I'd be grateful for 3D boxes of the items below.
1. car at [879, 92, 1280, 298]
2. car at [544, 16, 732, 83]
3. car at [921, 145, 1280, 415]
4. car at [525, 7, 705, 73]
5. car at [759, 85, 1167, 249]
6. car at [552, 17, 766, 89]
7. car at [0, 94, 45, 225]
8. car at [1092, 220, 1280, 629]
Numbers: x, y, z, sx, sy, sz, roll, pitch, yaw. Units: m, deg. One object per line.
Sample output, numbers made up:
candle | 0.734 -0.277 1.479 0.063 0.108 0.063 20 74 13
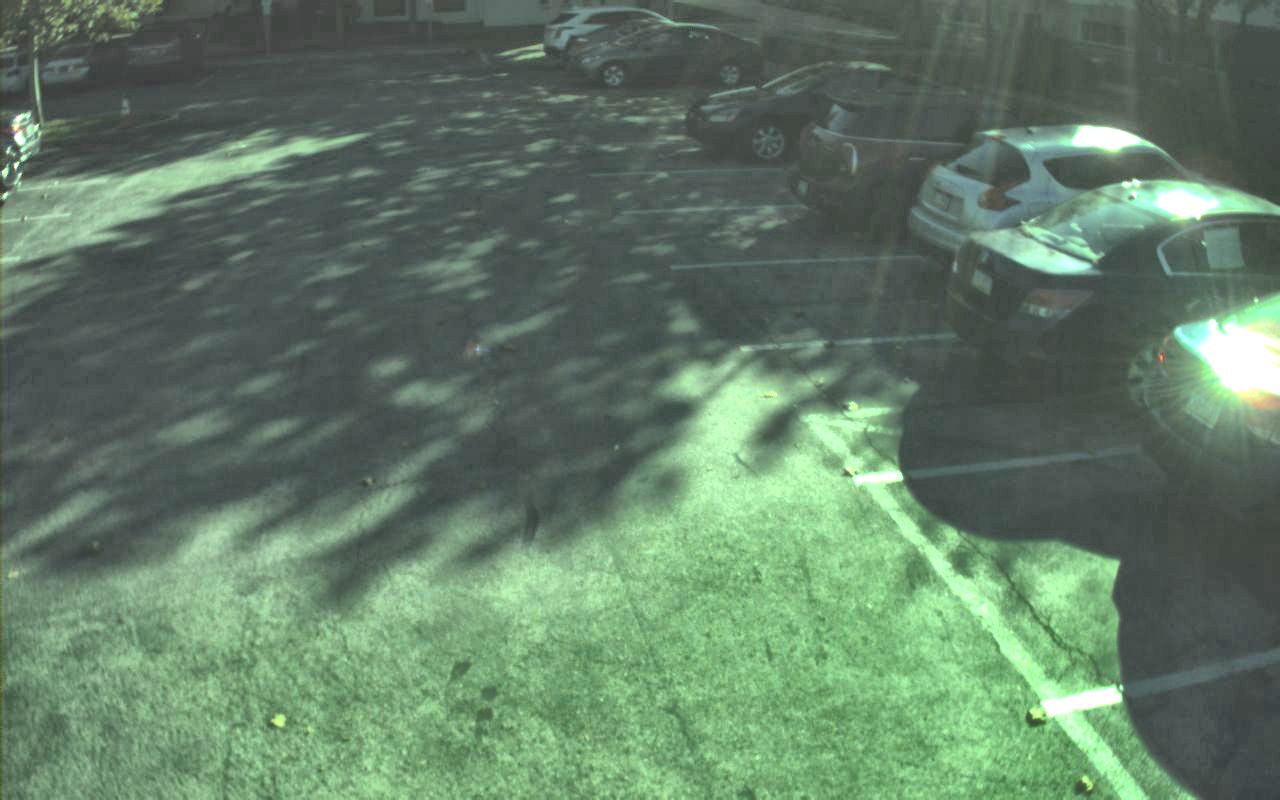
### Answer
car | 4.595 -2.077 11.455 4.288 1.596 1.903 -6 17 -15
car | -0.090 -8.723 30.575 4.348 1.558 1.928 -5 17 -12
car | 4.533 -1.070 8.941 4.461 1.537 1.926 -4 17 -11
car | -0.701 -9.655 32.924 4.497 1.647 1.969 -5 17 -13
car | 3.757 -2.756 13.982 4.451 1.590 1.941 -5 17 -12
car | 0.388 -8.007 28.314 4.613 1.563 1.969 -4 17 -11
car | -12.443 -4.056 18.123 4.442 1.598 1.974 -5 17 -12
car | 5.039 -0.102 6.469 4.418 1.591 1.950 -5 17 -13
